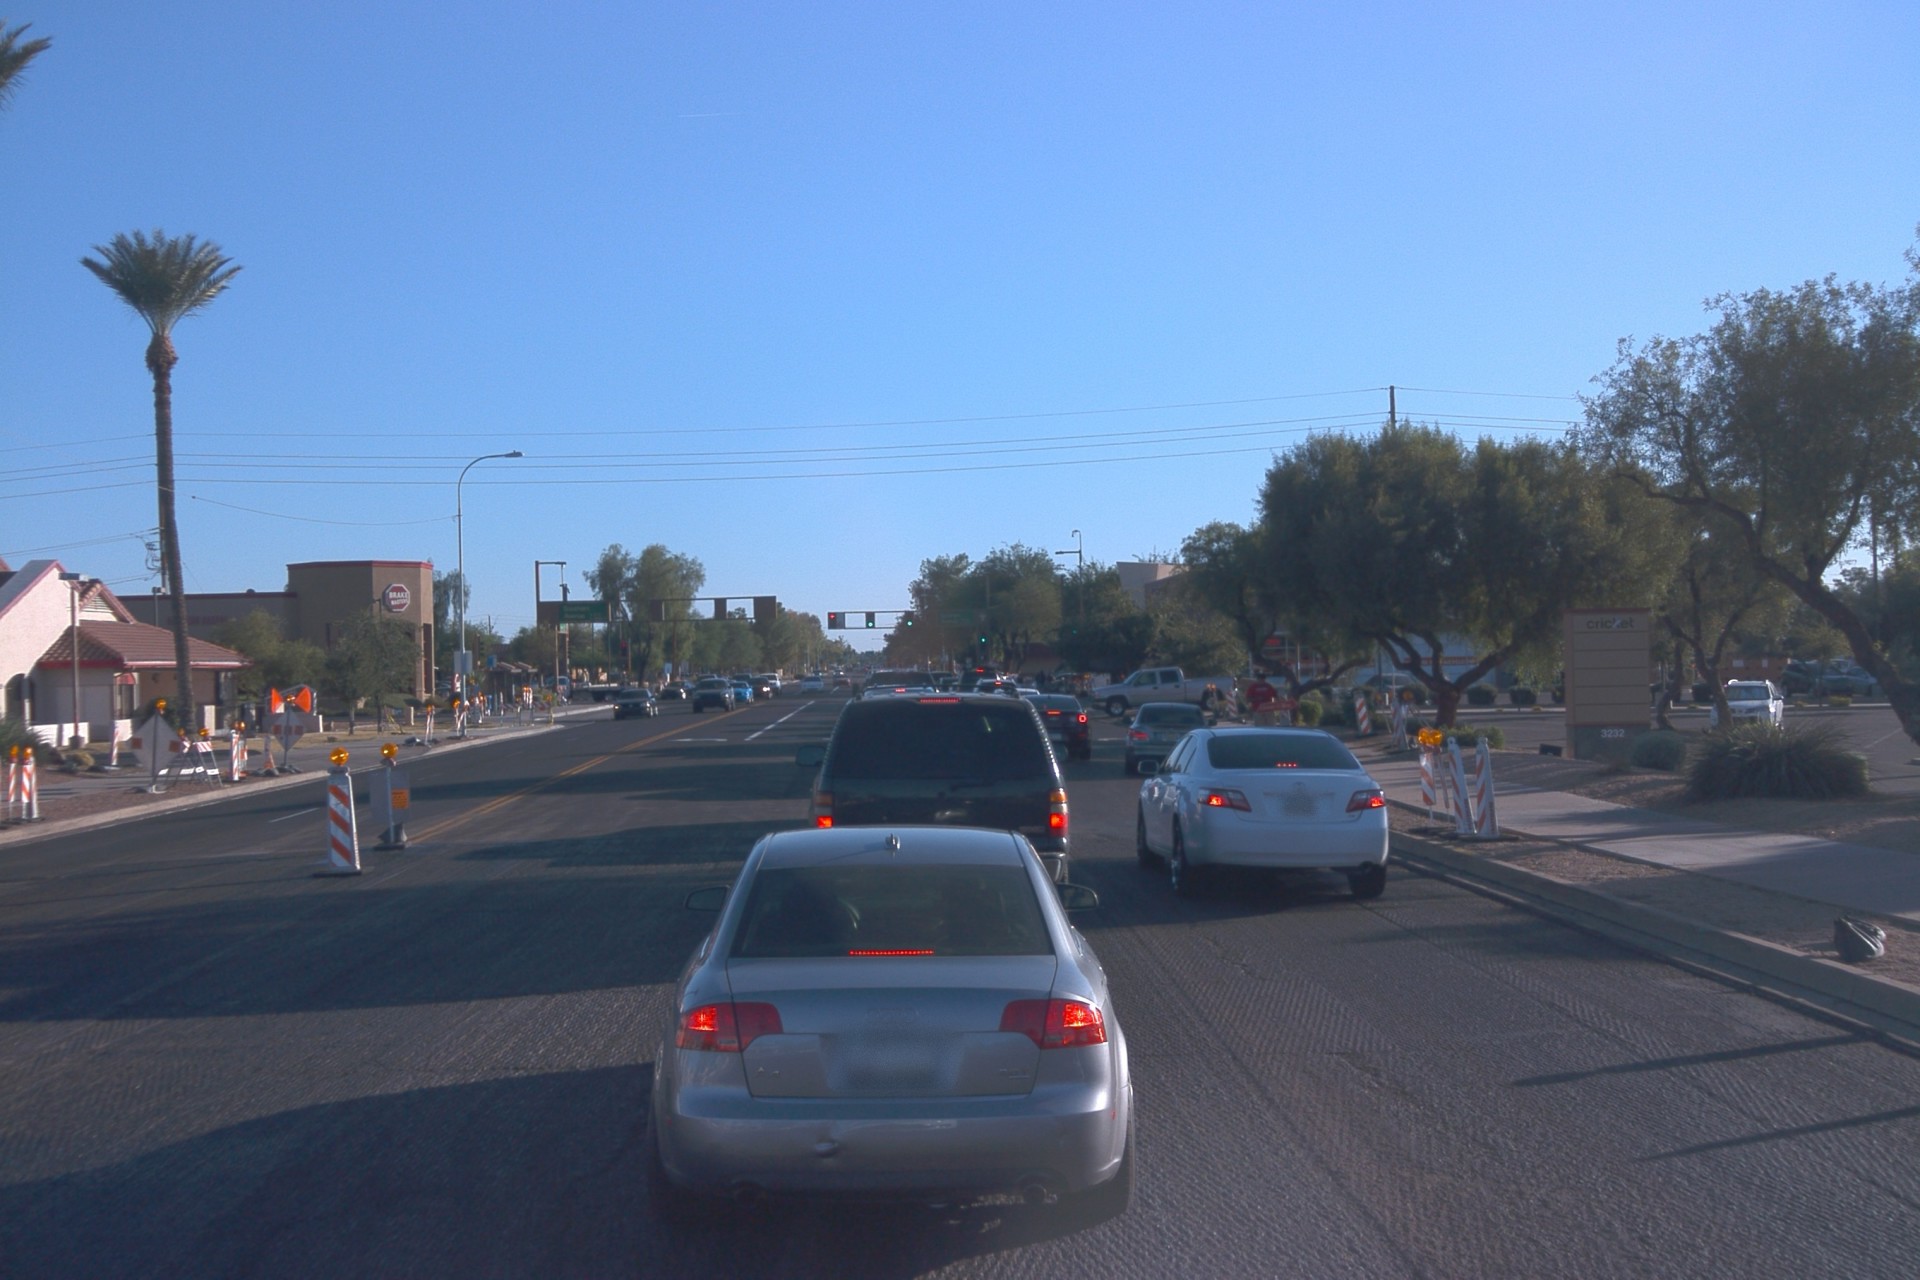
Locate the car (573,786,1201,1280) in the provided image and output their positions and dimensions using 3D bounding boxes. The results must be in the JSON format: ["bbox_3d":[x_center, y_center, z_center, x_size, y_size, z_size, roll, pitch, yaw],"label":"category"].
[{"bbox_3d":[-0.282,1.487,8.940,2.033,1.480,4.403,0,-1,-1],"label":"car"}]

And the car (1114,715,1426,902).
[{"bbox_3d":[2.769,1.490,19.751,2.124,1.470,4.694,0,-1,-2],"label":"car"}]

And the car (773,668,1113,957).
[{"bbox_3d":[-0.213,1.259,17.219,2.405,2.040,5.063,0,-1,-2],"label":"car"}]
